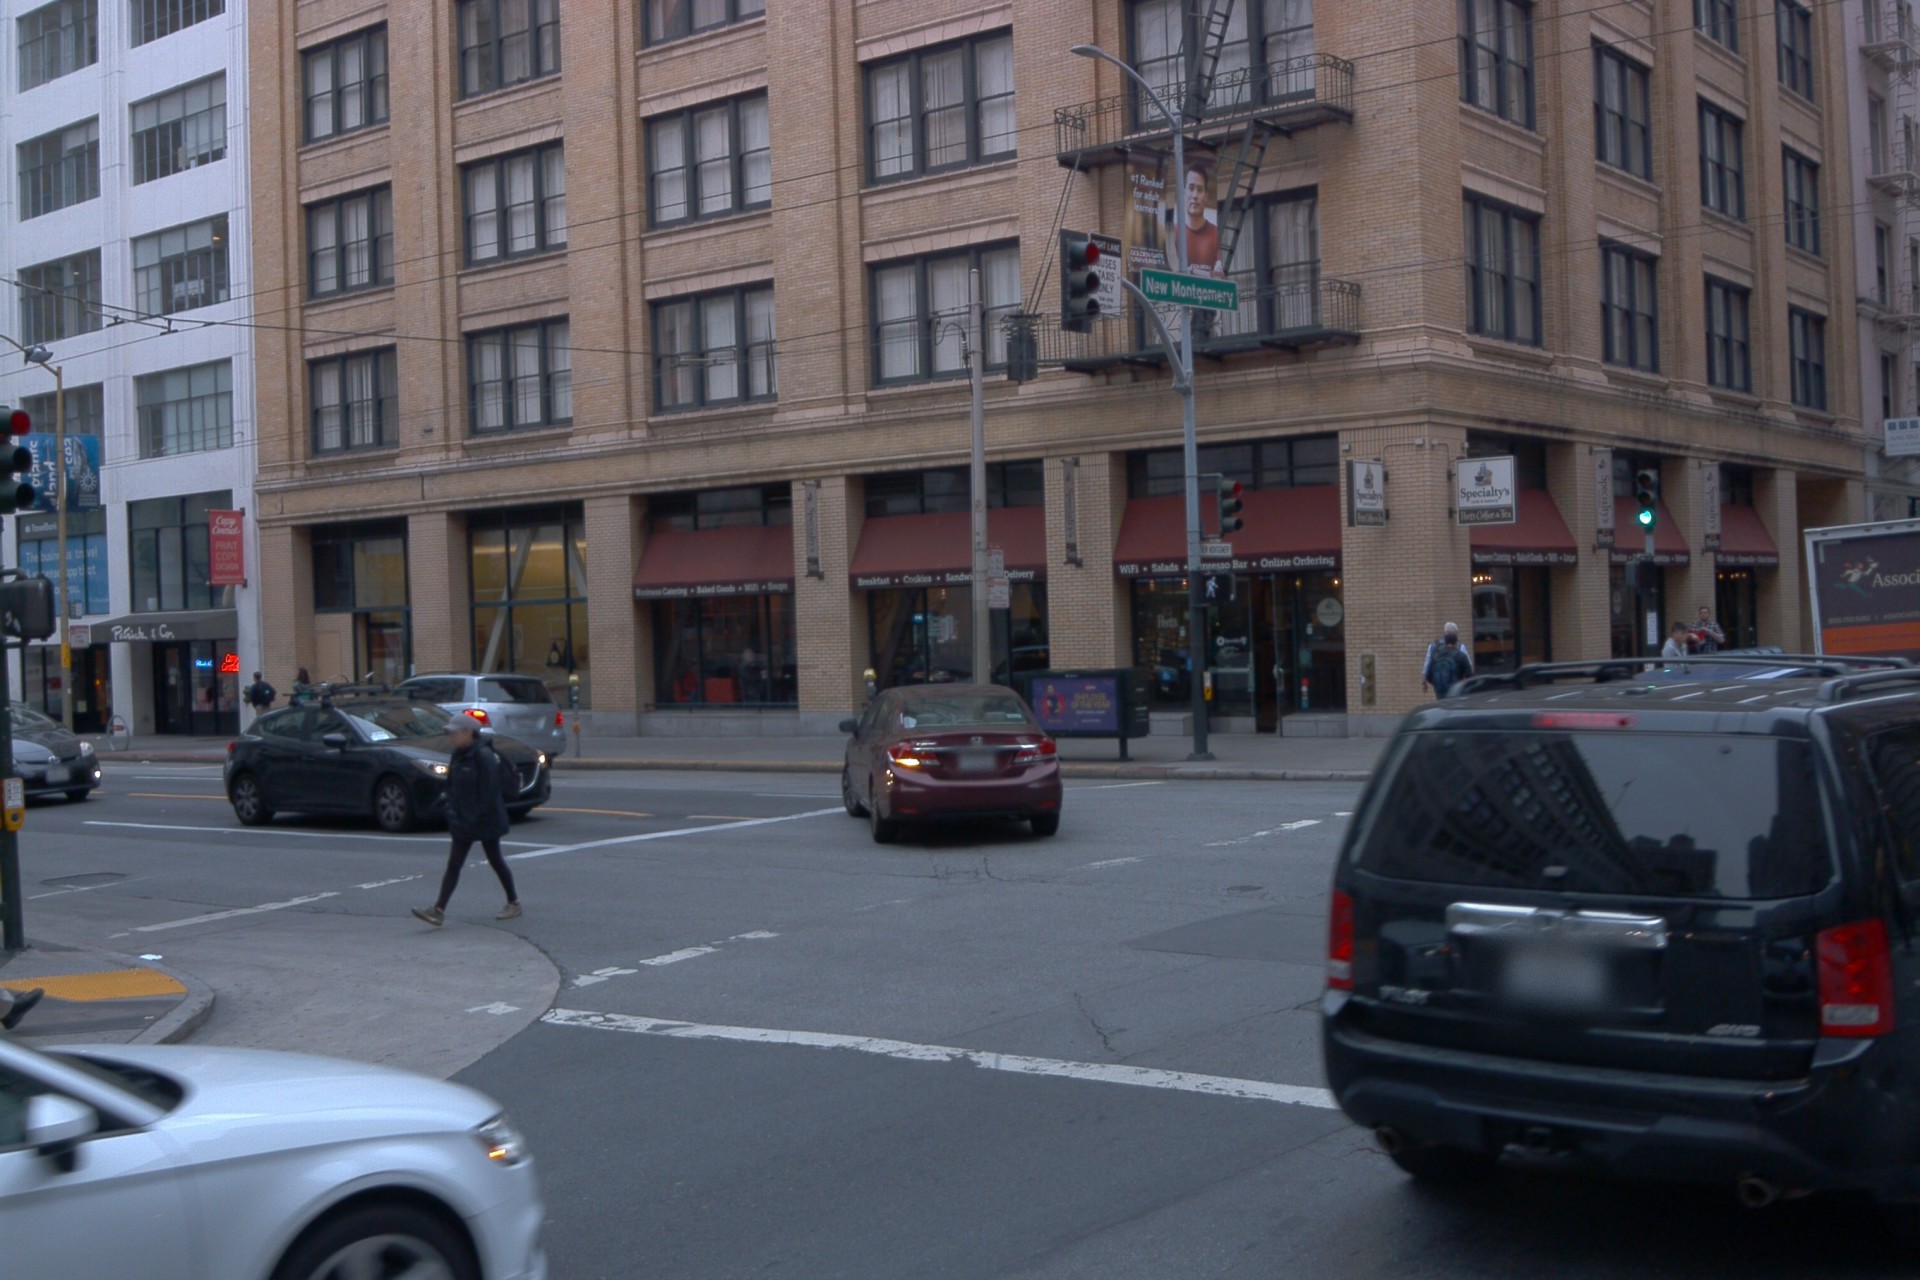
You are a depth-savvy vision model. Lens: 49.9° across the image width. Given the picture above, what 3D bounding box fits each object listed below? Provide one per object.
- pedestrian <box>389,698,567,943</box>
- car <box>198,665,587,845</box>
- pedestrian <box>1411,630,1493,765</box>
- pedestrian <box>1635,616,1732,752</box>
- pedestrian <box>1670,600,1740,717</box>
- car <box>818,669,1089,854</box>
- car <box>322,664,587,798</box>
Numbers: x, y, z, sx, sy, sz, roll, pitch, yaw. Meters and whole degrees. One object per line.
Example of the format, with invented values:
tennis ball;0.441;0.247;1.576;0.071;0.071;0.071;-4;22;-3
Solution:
pedestrian;-3.592;1.312;15.420;0.774;1.690;1.026;1;1;37
car;-6.495;1.212;23.441;4.370;1.740;2.024;1;1;38
pedestrian;6.586;0.755;27.612;0.765;1.750;0.930;1;1;36
pedestrian;9.790;0.580;27.931;0.791;1.787;0.965;-1;1;-43
pedestrian;12.236;0.286;33.906;0.901;1.900;0.938;1;1;32
car;-0.198;1.107;20.600;2.041;1.480;4.477;0;1;-9
car;-8.147;1.386;33.057;4.280;1.869;2.149;1;1;44
